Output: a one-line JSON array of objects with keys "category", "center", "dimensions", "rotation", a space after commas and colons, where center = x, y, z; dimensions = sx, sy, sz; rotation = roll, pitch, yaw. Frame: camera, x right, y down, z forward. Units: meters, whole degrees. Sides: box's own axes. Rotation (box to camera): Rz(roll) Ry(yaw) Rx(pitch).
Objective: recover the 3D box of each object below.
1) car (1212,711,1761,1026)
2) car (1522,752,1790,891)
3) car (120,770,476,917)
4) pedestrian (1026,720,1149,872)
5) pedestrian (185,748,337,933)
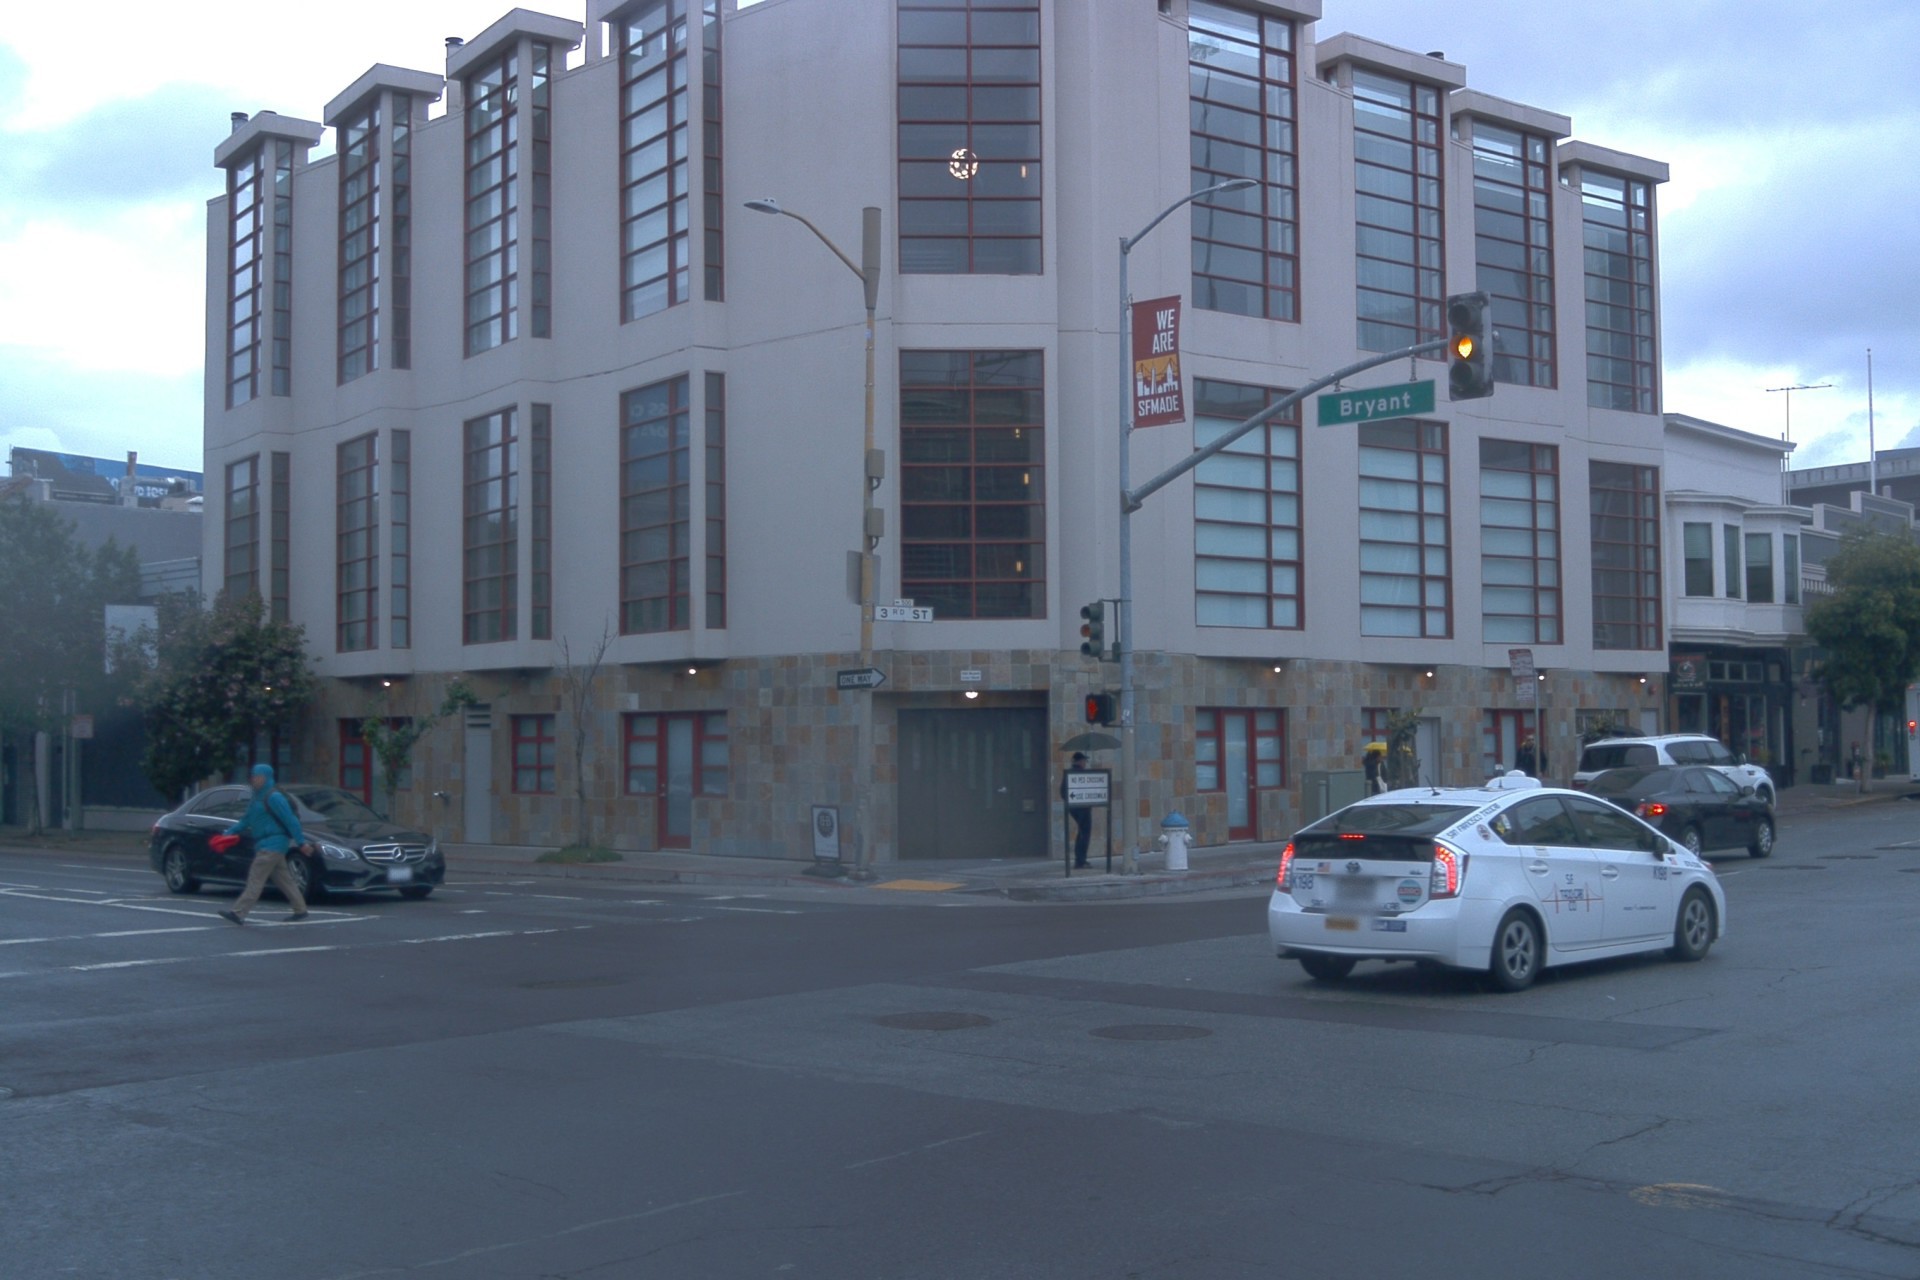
[{"category": "car", "center": [4.244, 1.609, 16.294], "dimensions": [2.061, 1.950, 4.683], "rotation": [0, 0, 45]}, {"category": "car", "center": [10.141, 2.547, 30.096], "dimensions": [1.956, 1.590, 4.713], "rotation": [0, 0, 42]}, {"category": "car", "center": [-8.559, 2.524, 26.683], "dimensions": [4.853, 1.410, 2.144], "rotation": [0, 0, 41]}, {"category": "pedestrian", "center": [1.887, 2.278, 30.769], "dimensions": [1.342, 2.110, 1.227], "rotation": [0, 0, -41]}, {"category": "pedestrian", "center": [-7.385, 2.087, 21.976], "dimensions": [0.924, 1.810, 1.235], "rotation": [0, 0, 45]}]
